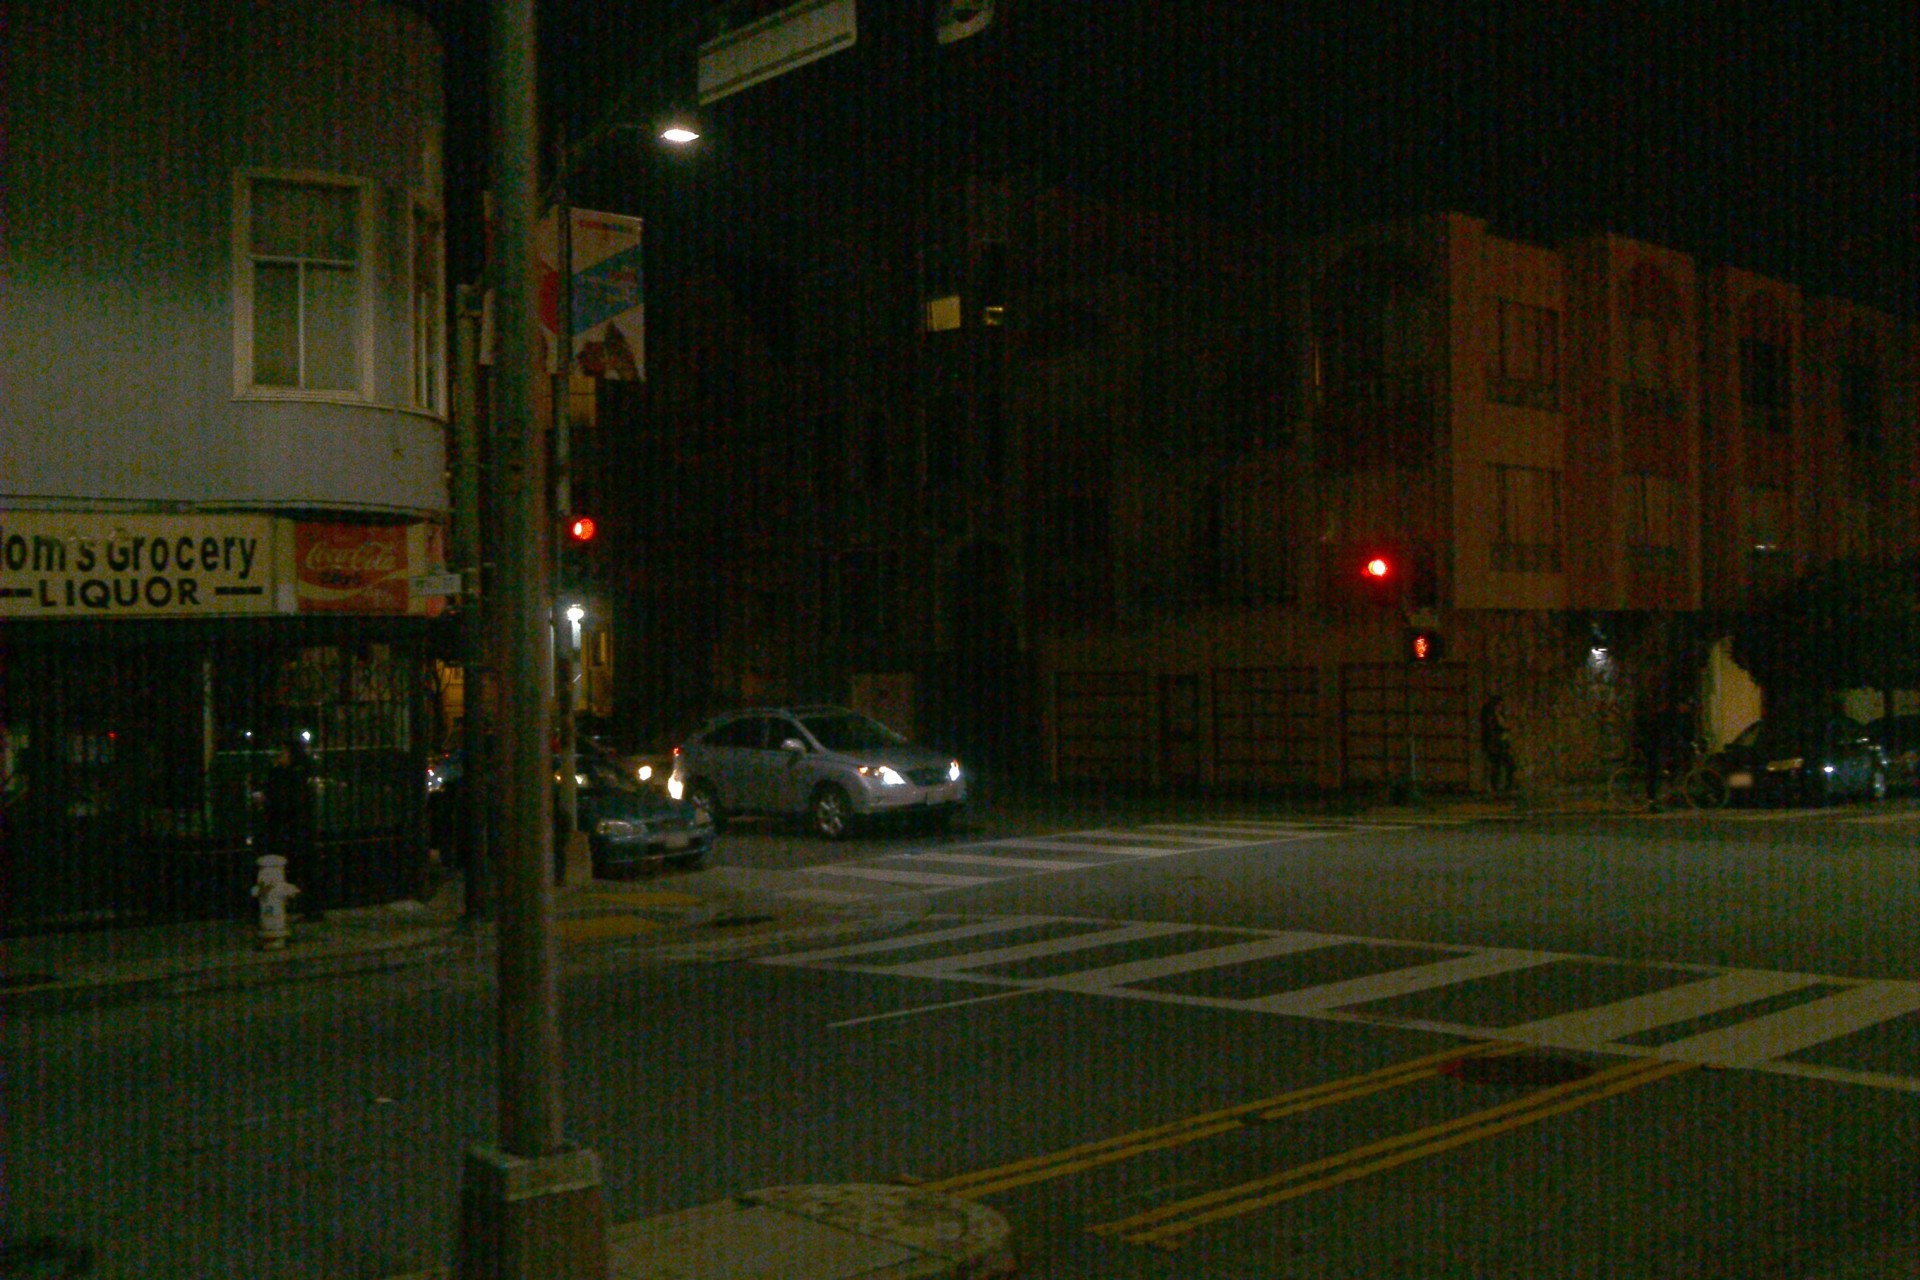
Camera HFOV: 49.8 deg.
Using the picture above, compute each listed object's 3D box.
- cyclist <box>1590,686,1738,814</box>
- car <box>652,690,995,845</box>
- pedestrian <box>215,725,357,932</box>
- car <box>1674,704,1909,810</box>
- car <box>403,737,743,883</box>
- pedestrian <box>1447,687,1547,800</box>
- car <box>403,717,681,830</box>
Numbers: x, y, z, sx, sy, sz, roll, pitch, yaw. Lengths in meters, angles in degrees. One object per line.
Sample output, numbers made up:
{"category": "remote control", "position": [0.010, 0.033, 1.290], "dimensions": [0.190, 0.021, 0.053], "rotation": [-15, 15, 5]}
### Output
{"category": "cyclist", "position": [10.297, 1.587, 30.226], "dimensions": [1.895, 1.760, 0.832], "rotation": [1, 0, 30]}
{"category": "car", "position": [-1.931, 1.650, 28.159], "dimensions": [2.139, 1.760, 4.613], "rotation": [1, 0, -45]}
{"category": "pedestrian", "position": [-5.879, 1.615, 18.017], "dimensions": [0.867, 1.690, 0.829], "rotation": [1, 0, 43]}
{"category": "car", "position": [13.289, 1.805, 32.879], "dimensions": [1.967, 1.430, 4.633], "rotation": [1, 0, 42]}
{"category": "car", "position": [-4.744, 1.977, 24.966], "dimensions": [1.946, 1.350, 4.278], "rotation": [1, 0, -45]}
{"category": "pedestrian", "position": [8.383, 1.595, 32.269], "dimensions": [1.175, 1.690, 0.935], "rotation": [1, 0, 43]}
{"category": "car", "position": [-6.704, 2.061, 32.878], "dimensions": [4.459, 1.450, 2.125], "rotation": [1, 0, 43]}
